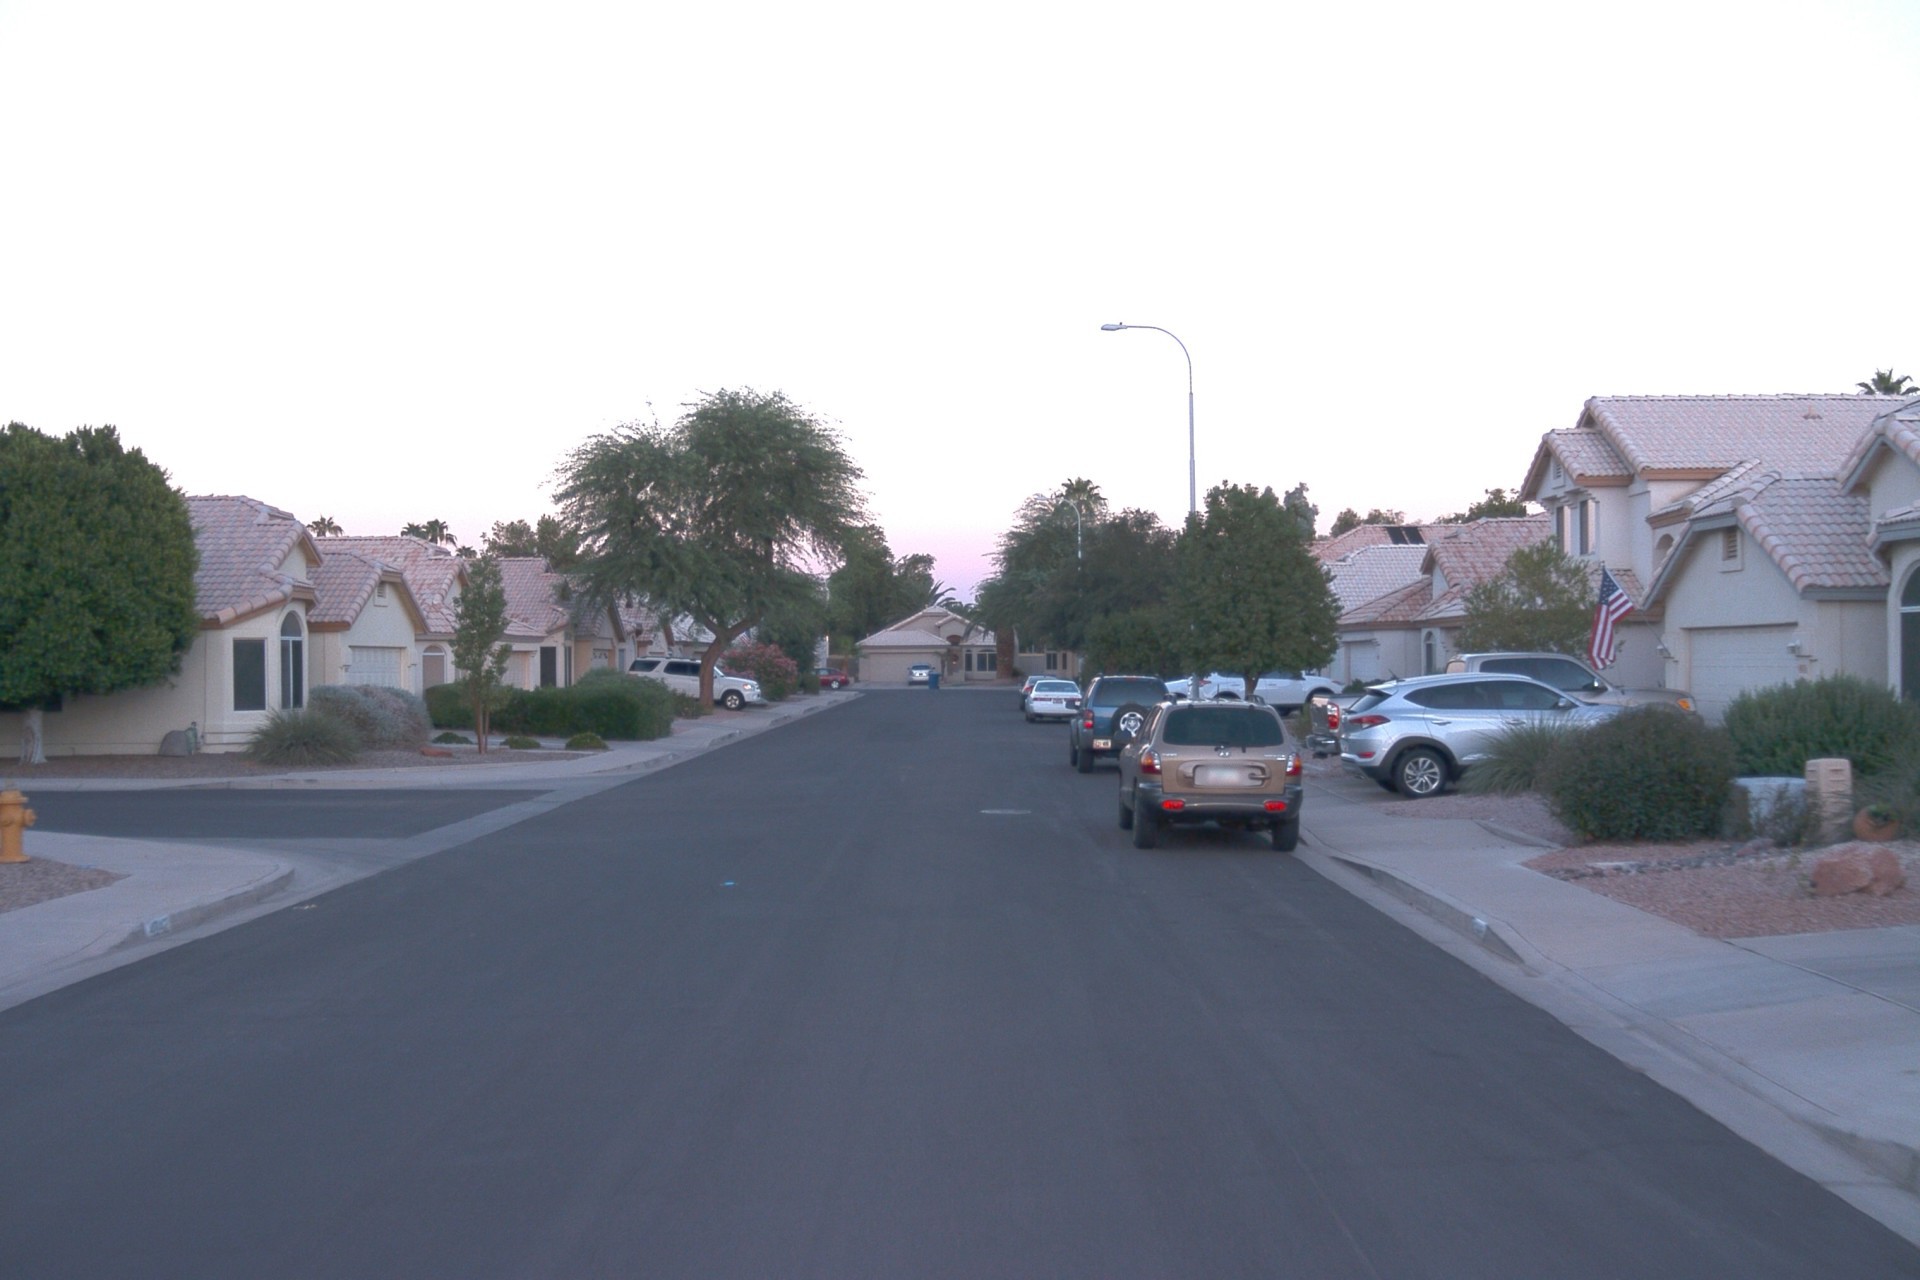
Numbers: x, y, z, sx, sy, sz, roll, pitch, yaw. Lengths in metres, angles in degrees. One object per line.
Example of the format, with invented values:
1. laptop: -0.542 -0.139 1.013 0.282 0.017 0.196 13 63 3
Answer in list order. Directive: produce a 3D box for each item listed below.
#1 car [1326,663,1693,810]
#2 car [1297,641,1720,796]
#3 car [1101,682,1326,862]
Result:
1. car: 7.501 1.296 28.882 4.502 1.920 2.158 0 -1 1
2. car: 8.201 1.154 31.674 5.802 2.210 2.338 0 0 1
3. car: 2.846 1.443 24.517 2.117 1.840 4.827 0 -1 1
